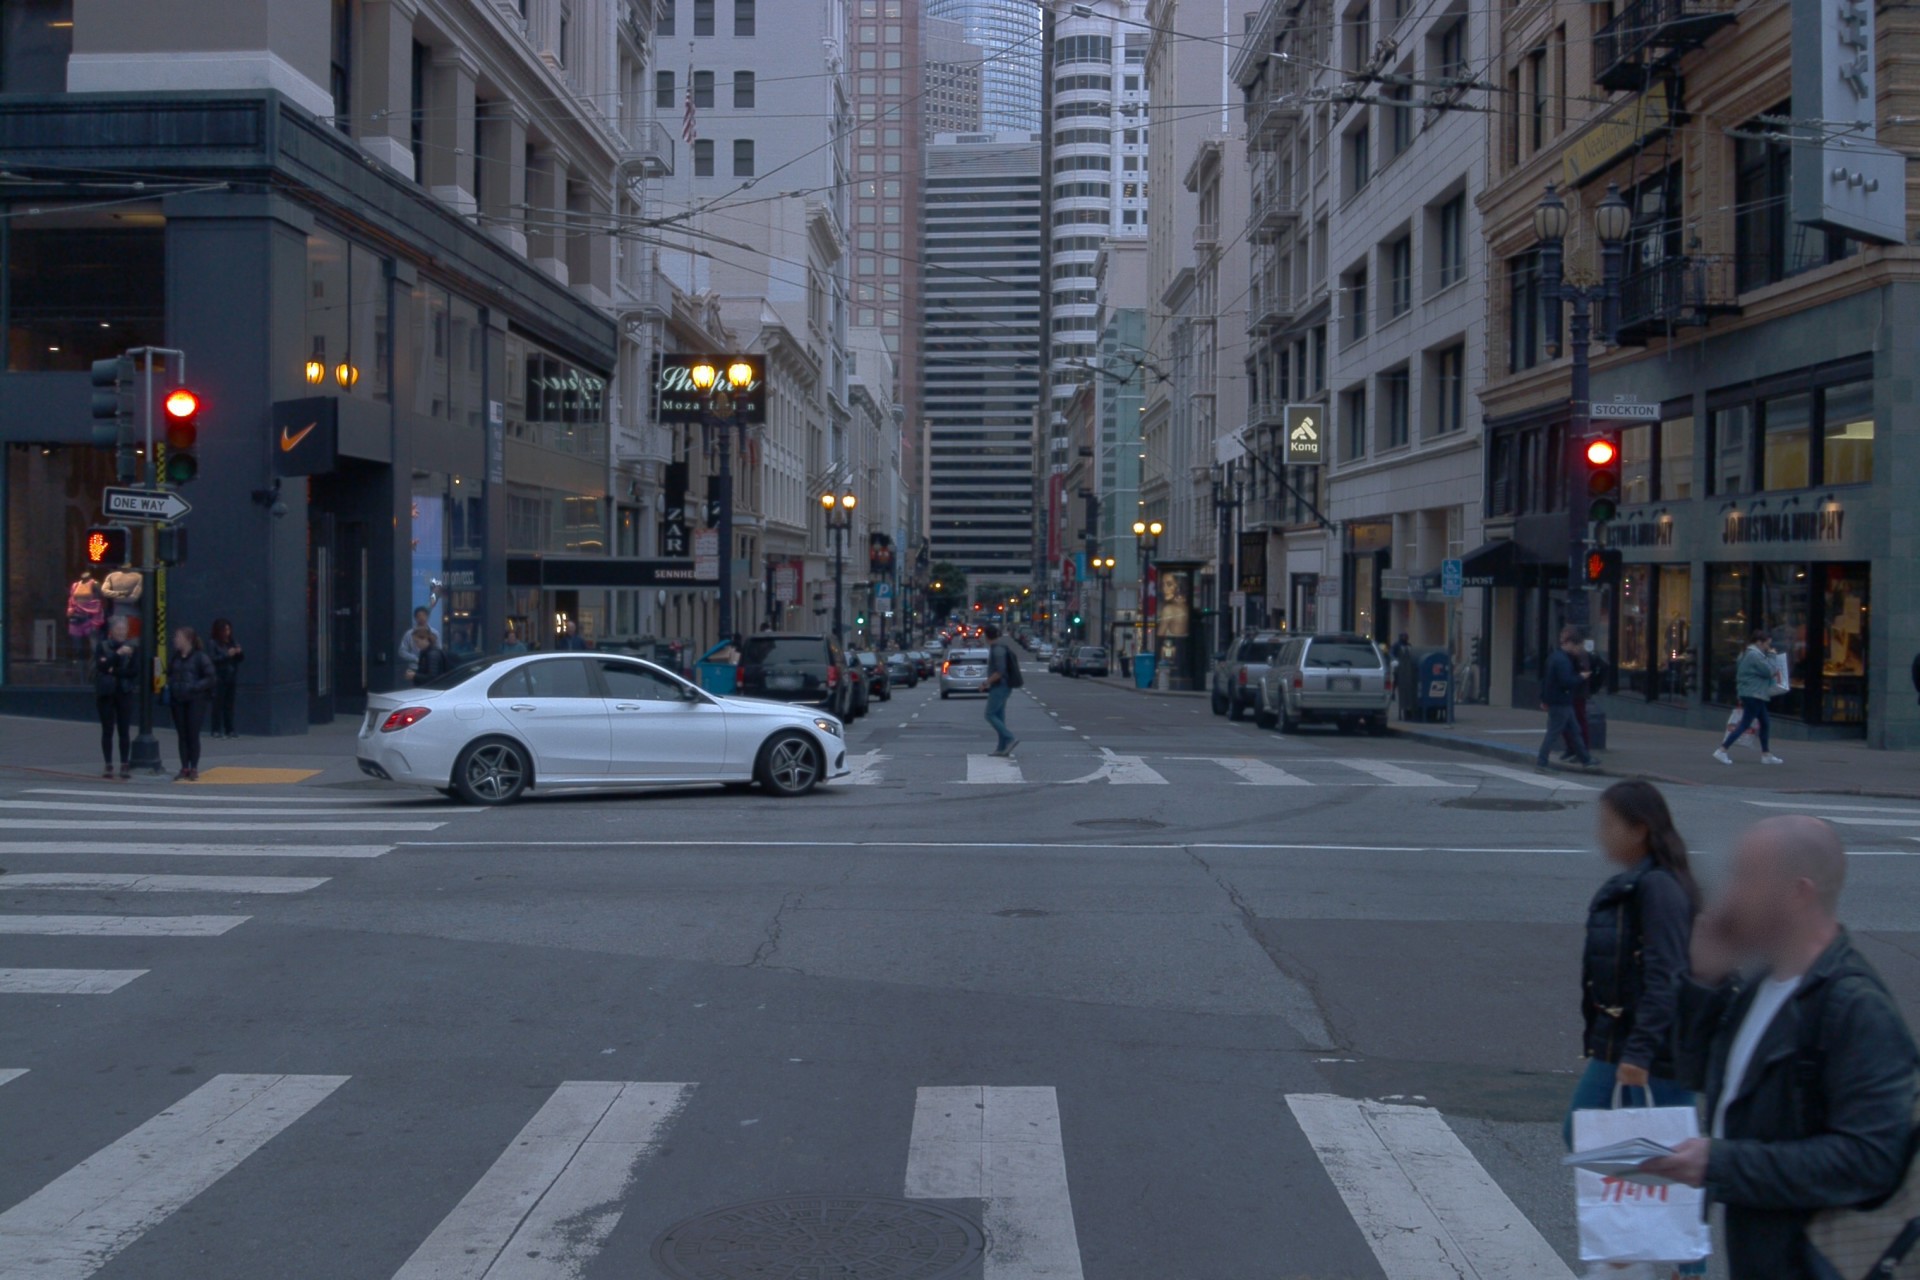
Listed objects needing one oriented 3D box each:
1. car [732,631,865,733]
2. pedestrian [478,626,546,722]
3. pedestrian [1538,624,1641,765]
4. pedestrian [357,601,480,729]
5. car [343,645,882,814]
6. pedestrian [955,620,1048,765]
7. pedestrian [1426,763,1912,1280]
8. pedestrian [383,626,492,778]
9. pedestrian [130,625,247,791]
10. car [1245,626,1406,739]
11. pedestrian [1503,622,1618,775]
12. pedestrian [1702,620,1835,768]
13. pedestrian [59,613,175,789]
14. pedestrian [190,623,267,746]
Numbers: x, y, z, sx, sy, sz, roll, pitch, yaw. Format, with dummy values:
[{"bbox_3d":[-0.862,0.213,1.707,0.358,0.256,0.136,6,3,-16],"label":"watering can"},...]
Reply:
[{"bbox_3d":[-2.829,0.696,36.778,1.946,1.699,4.331,0,1,2],"label":"car"},{"bbox_3d":[-8.228,0.617,37.608,1.000,1.740,1.000,0,1,3],"label":"pedestrian"},{"bbox_3d":[7.619,0.645,24.762,1.000,1.680,0.673,0,1,-5],"label":"pedestrian"},{"bbox_3d":[-7.755,0.337,29.297,1.302,1.773,1.285,0,1,-38],"label":"pedestrian"},{"bbox_3d":[-3.387,0.792,19.930,4.812,1.440,2.088,0,1,-23],"label":"car"},{"bbox_3d":[0.513,0.633,25.348,1.124,1.750,1.075,0,1,1],"label":"pedestrian"},{"bbox_3d":[1.906,1.212,5.731,1.101,1.640,1.170,0,1,10],"label":"pedestrian"},{"bbox_3d":[-5.808,0.666,22.706,1.120,1.630,0.975,0,1,-18],"label":"pedestrian"},{"bbox_3d":[-8.173,0.702,21.704,0.954,1.710,1.071,0,1,-8],"label":"pedestrian"},{"bbox_3d":[6.359,0.695,36.049,1.952,1.860,4.298,0,1,-1],"label":"car"},{"bbox_3d":[7.055,0.675,24.073,1.111,1.760,0.953,0,1,4],"label":"pedestrian"},{"bbox_3d":[9.548,0.621,24.216,1.090,1.710,1.176,0,1,-1],"label":"pedestrian"},{"bbox_3d":[-8.865,0.622,21.555,0.897,1.800,1.086,0,1,-8],"label":"pedestrian"},{"bbox_3d":[-9.054,0.539,25.341,0.686,1.500,0.639,0,1,5],"label":"pedestrian"}]
